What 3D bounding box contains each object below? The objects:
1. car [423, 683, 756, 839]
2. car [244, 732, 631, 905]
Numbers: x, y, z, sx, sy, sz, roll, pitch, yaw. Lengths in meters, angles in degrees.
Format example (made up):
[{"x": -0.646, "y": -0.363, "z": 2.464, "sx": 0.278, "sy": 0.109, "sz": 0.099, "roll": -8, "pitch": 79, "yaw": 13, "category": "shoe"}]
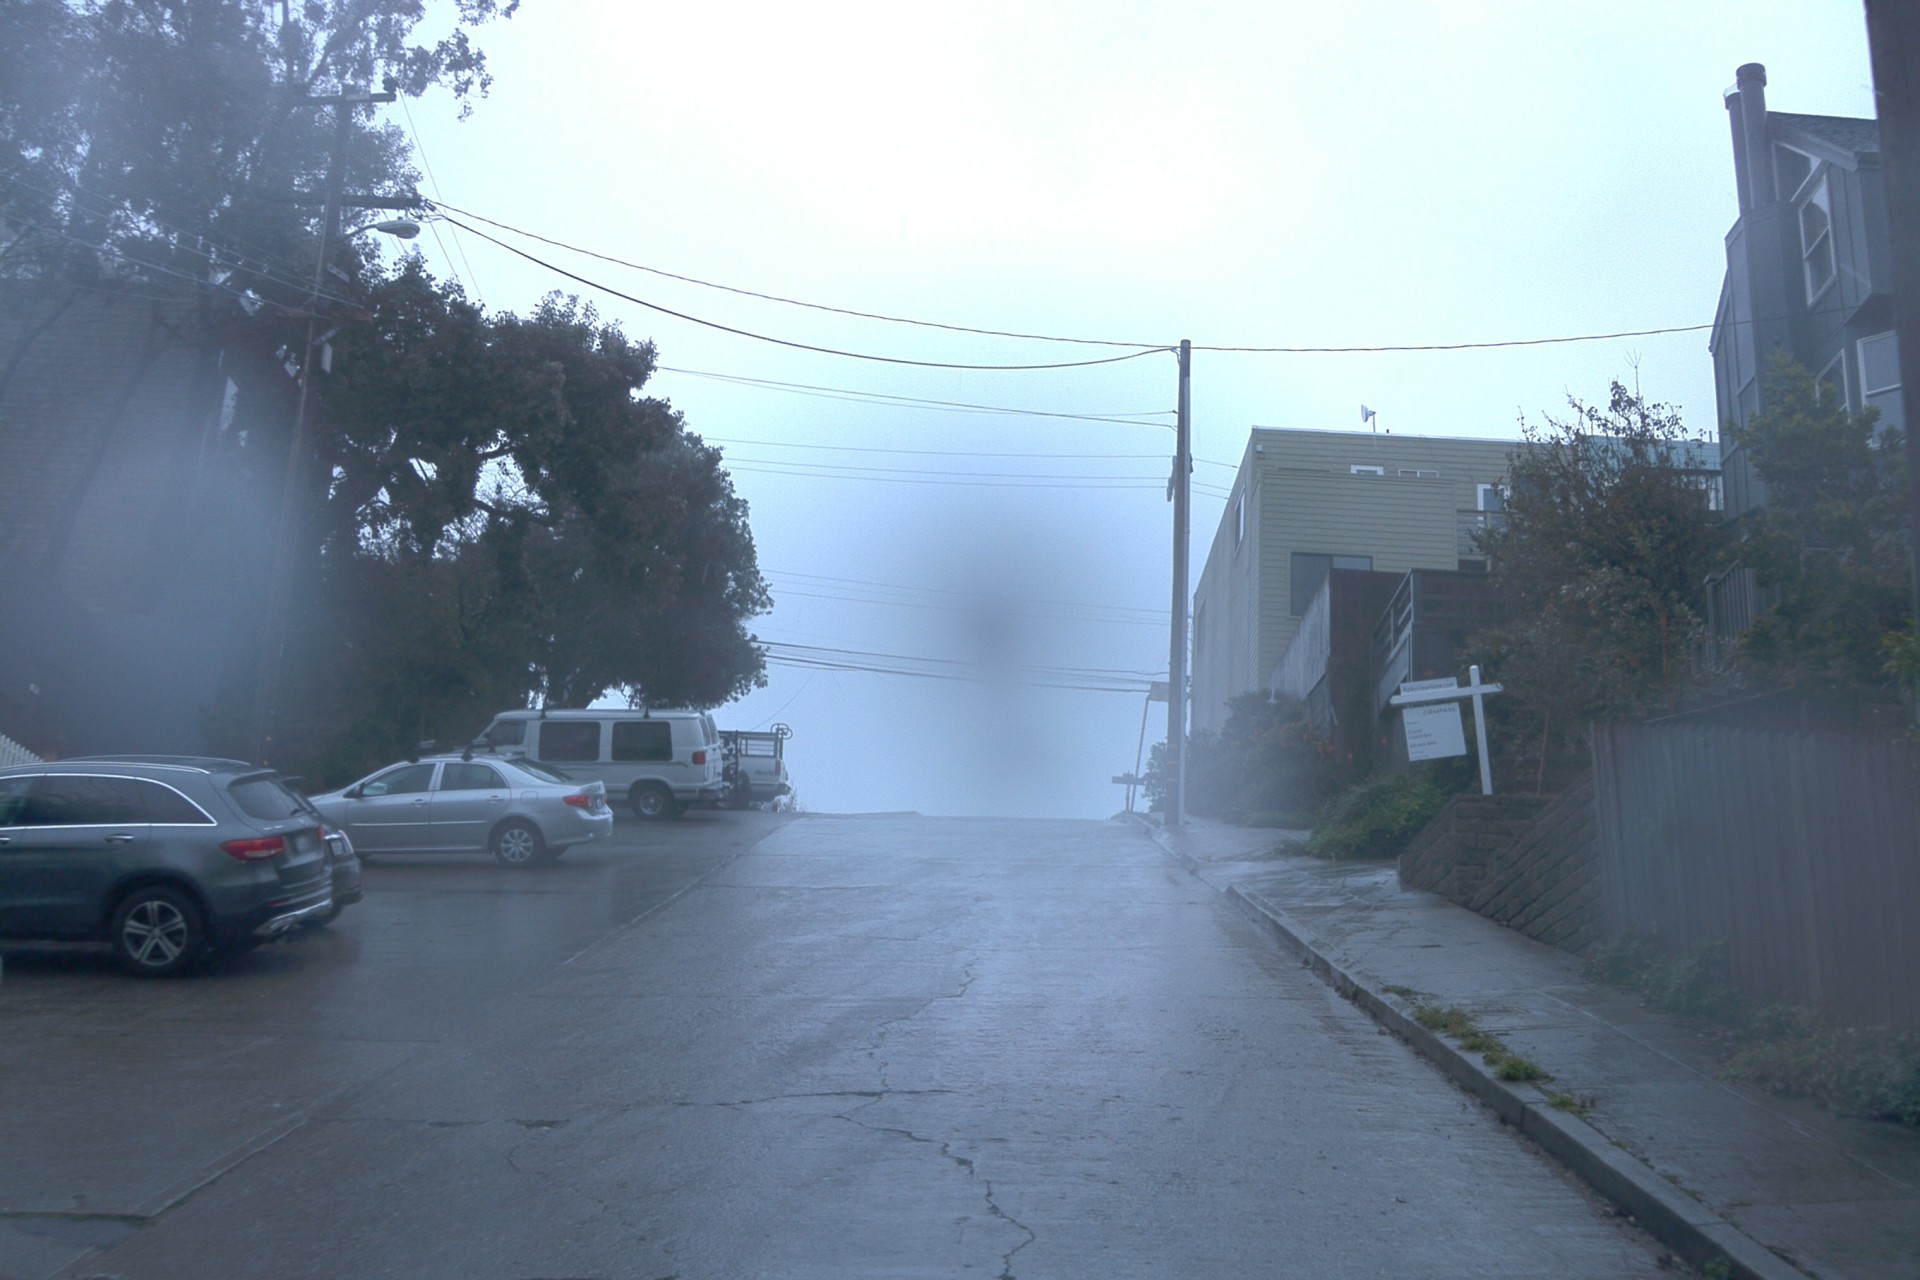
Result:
[{"x": -6.651, "y": 2.142, "z": 37.645, "sx": 5.495, "sy": 2.680, "sz": 2.467, "roll": 0, "pitch": 0, "yaw": 5, "category": "car"}, {"x": -6.732, "y": 2.276, "z": 27.022, "sx": 4.450, "sy": 2.047, "sz": 2.156, "roll": 0, "pitch": 0, "yaw": 5, "category": "car"}]
